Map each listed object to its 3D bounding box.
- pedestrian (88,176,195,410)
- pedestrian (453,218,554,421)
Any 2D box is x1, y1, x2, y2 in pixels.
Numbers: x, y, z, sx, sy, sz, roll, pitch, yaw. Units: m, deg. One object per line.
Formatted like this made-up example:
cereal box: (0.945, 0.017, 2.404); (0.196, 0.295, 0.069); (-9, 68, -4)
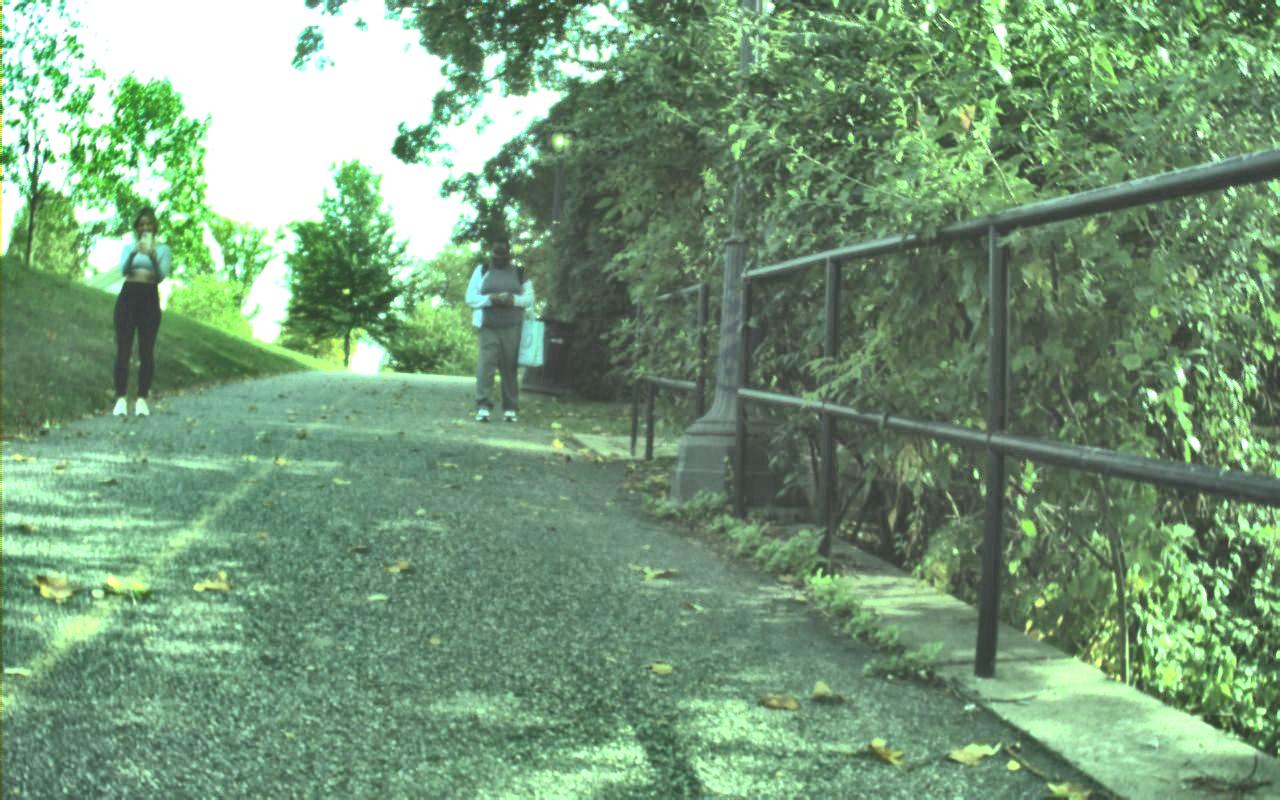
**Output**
pedestrian: (-3.793, -0.779, 8.912); (0.757, 1.716, 0.761); (0, 0, -17)
pedestrian: (-1.240, -0.701, 11.256); (0.804, 1.749, 0.815); (0, 0, -13)
